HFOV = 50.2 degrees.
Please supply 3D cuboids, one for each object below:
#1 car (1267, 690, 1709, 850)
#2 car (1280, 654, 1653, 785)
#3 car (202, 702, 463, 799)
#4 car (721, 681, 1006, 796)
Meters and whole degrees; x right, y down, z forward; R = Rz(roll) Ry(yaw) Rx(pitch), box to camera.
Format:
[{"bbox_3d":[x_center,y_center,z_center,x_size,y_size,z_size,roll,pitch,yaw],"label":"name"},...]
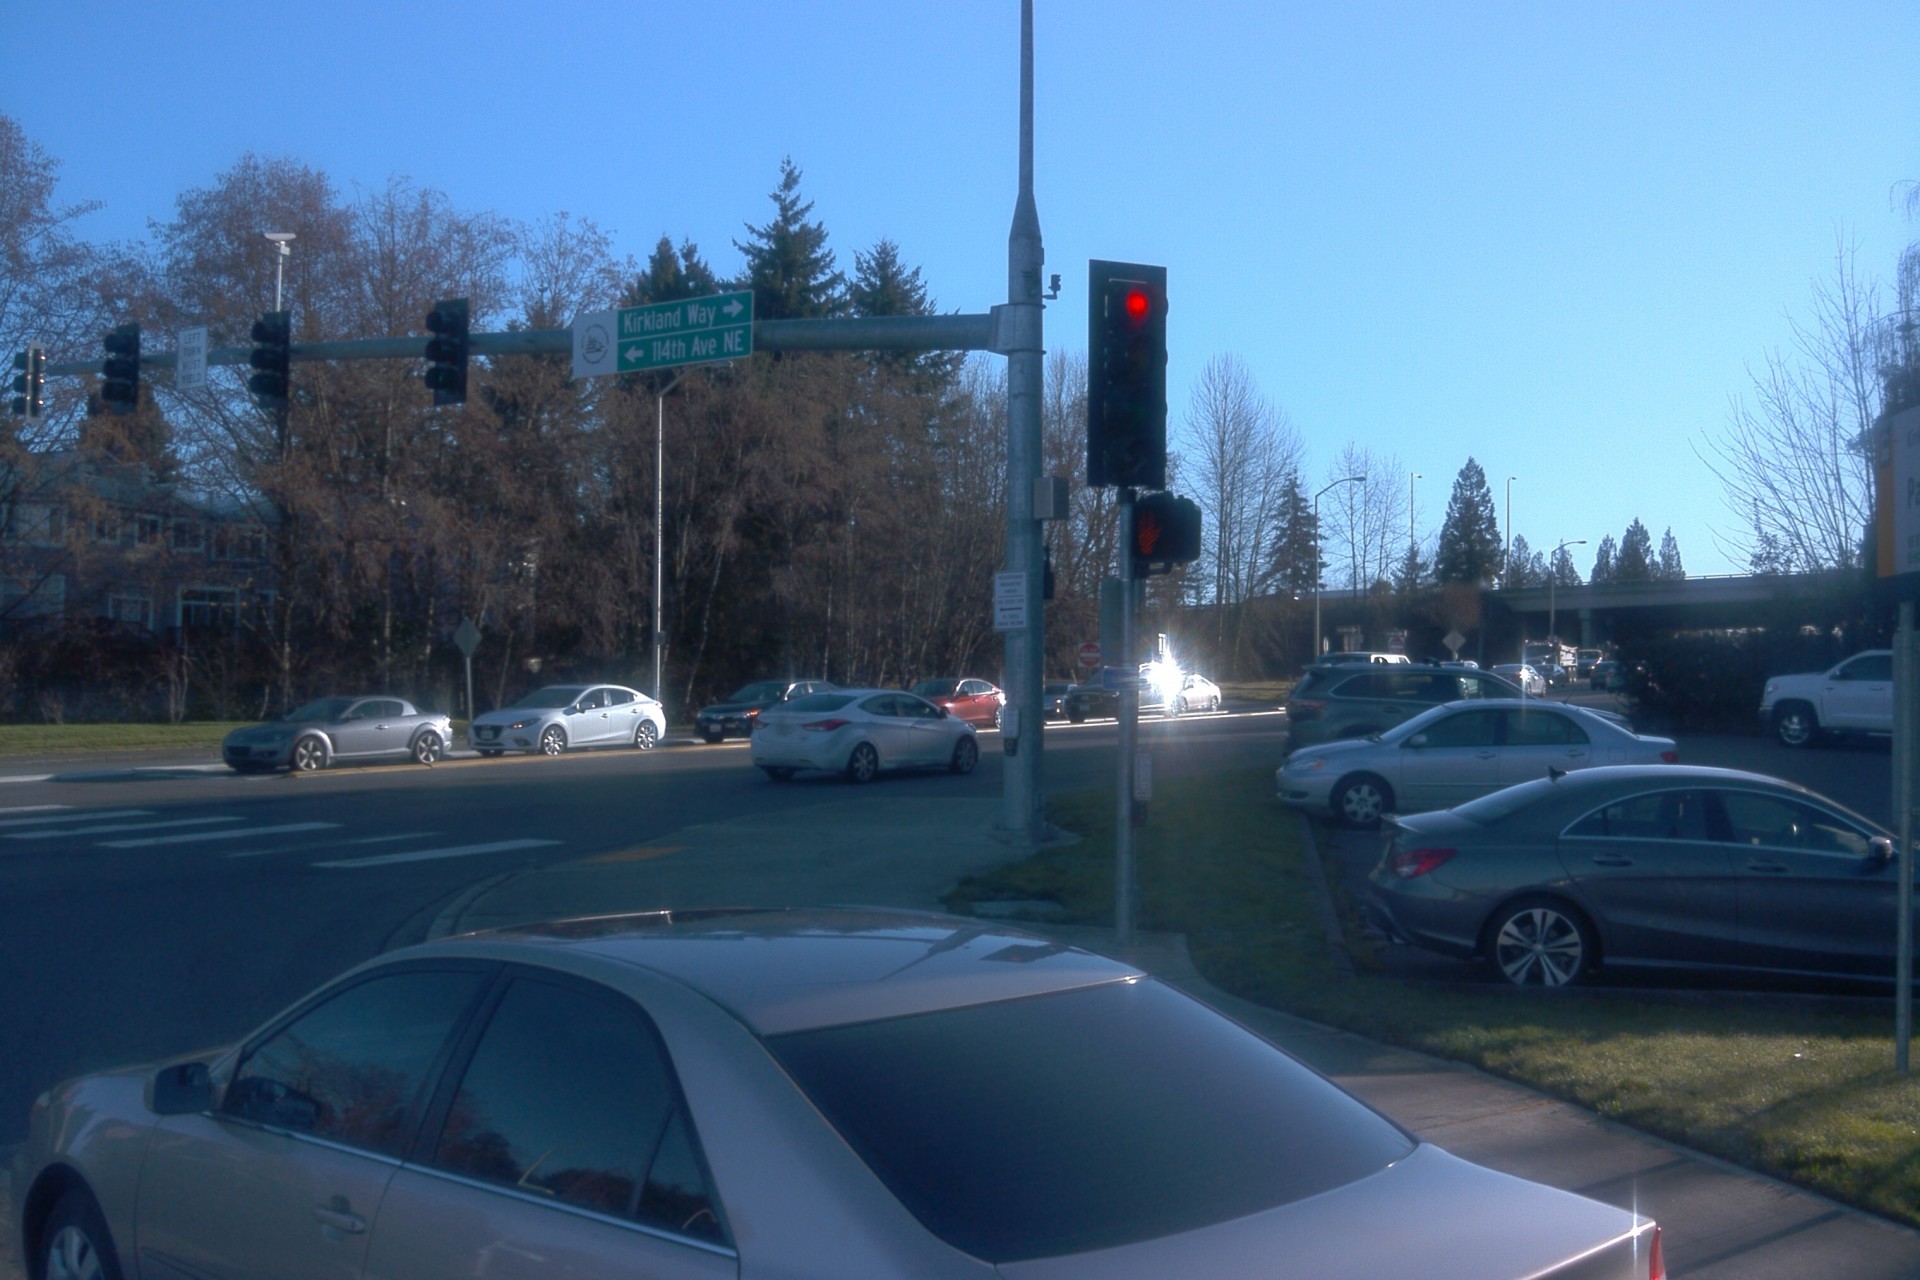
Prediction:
[{"bbox_3d":[5.908,1.440,23.459,4.657,1.620,2.051,0,0,7],"label":"car"},{"bbox_3d":[7.007,1.074,28.821,4.869,1.700,2.043,0,0,7],"label":"car"},{"bbox_3d":[-11.051,1.904,36.336,1.817,1.450,4.298,1,1,32],"label":"car"},{"bbox_3d":[-1.436,1.486,32.371,2.108,1.560,4.595,1,1,35],"label":"car"}]
